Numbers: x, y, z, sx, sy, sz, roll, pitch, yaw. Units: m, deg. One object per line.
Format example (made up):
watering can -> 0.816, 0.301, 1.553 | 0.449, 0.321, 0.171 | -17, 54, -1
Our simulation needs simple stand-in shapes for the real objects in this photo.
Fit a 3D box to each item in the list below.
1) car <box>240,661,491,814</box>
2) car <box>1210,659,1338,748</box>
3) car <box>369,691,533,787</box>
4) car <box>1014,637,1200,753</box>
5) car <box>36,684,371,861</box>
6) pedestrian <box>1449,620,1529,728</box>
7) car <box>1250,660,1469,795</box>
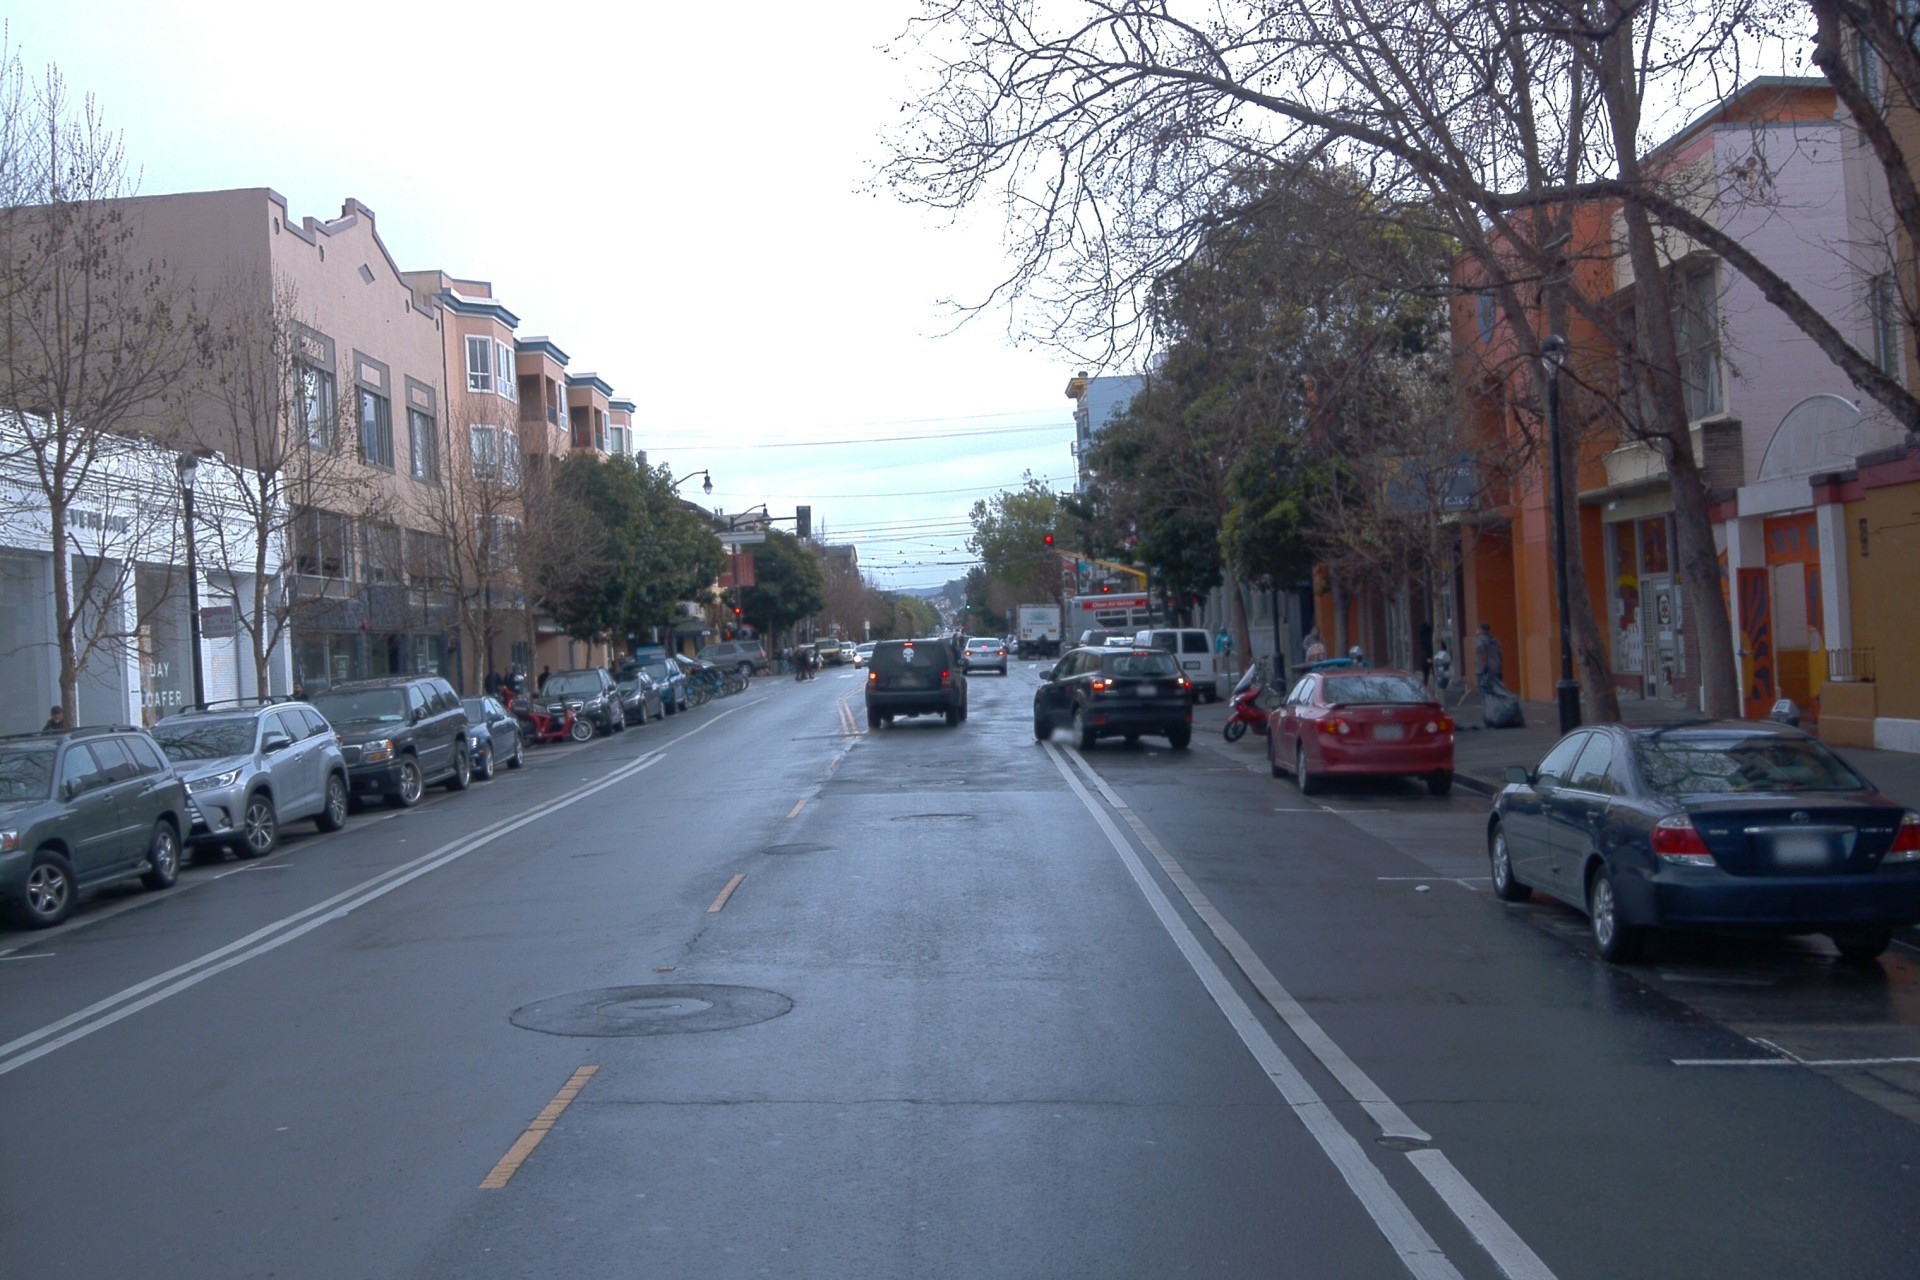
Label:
car -> -8.839, 1.376, 30.961 | 2.232, 2.010, 5.244 | 1, 0, 0
car -> 5.187, 1.040, 33.912 | 2.020, 1.430, 0.938 | 1, 0, 5
car -> -8.842, 1.689, 35.893 | 1.835, 1.430, 4.463 | 0, 0, -1
car -> 2.361, 0.864, 34.048 | 2.042, 1.780, 4.267 | 0, 0, -11
car -> -8.893, 1.484, 24.584 | 2.203, 1.760, 4.984 | 1, 0, 0
pedestrian -> 8.606, 0.544, 33.271 | 0.909, 1.740, 0.928 | 0, 0, -15
car -> 4.868, 1.019, 25.503 | 1.872, 1.470, 4.354 | 1, 0, 0
